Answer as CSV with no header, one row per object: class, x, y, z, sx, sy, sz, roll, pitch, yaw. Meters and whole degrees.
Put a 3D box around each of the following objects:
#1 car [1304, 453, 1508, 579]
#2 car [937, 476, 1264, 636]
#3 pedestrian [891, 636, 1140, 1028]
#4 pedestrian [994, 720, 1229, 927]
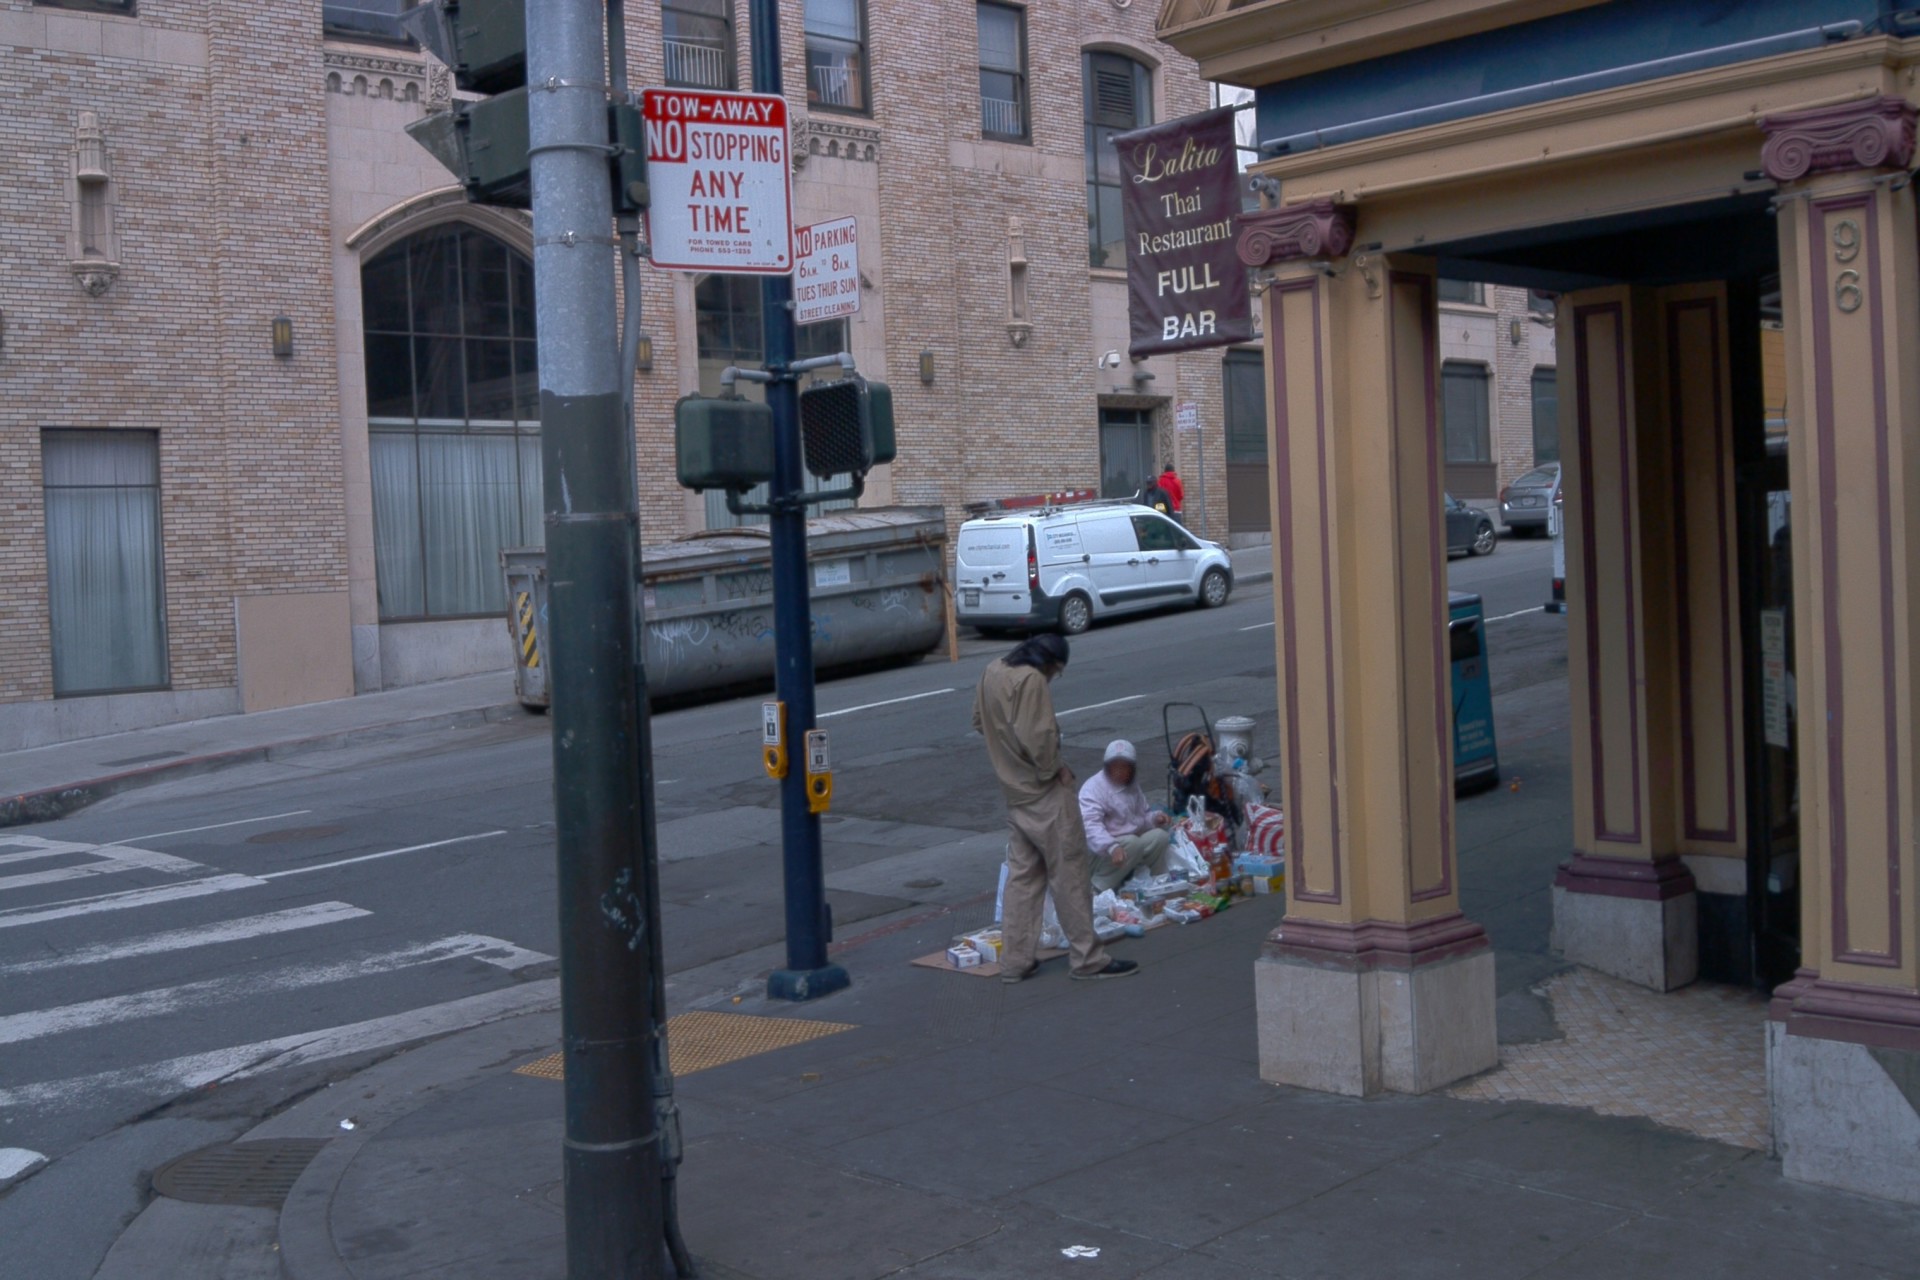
car,7.732,-2.083,35.480,1.744,1.980,3.738,0,1,44
car,2.137,-1.165,30.201,4.848,2.170,2.020,-1,1,-43
pedestrian,0.264,0.820,9.352,0.888,1.670,0.837,0,0,23
pedestrian,0.797,0.939,10.846,0.871,0.970,0.871,0,0,-41
